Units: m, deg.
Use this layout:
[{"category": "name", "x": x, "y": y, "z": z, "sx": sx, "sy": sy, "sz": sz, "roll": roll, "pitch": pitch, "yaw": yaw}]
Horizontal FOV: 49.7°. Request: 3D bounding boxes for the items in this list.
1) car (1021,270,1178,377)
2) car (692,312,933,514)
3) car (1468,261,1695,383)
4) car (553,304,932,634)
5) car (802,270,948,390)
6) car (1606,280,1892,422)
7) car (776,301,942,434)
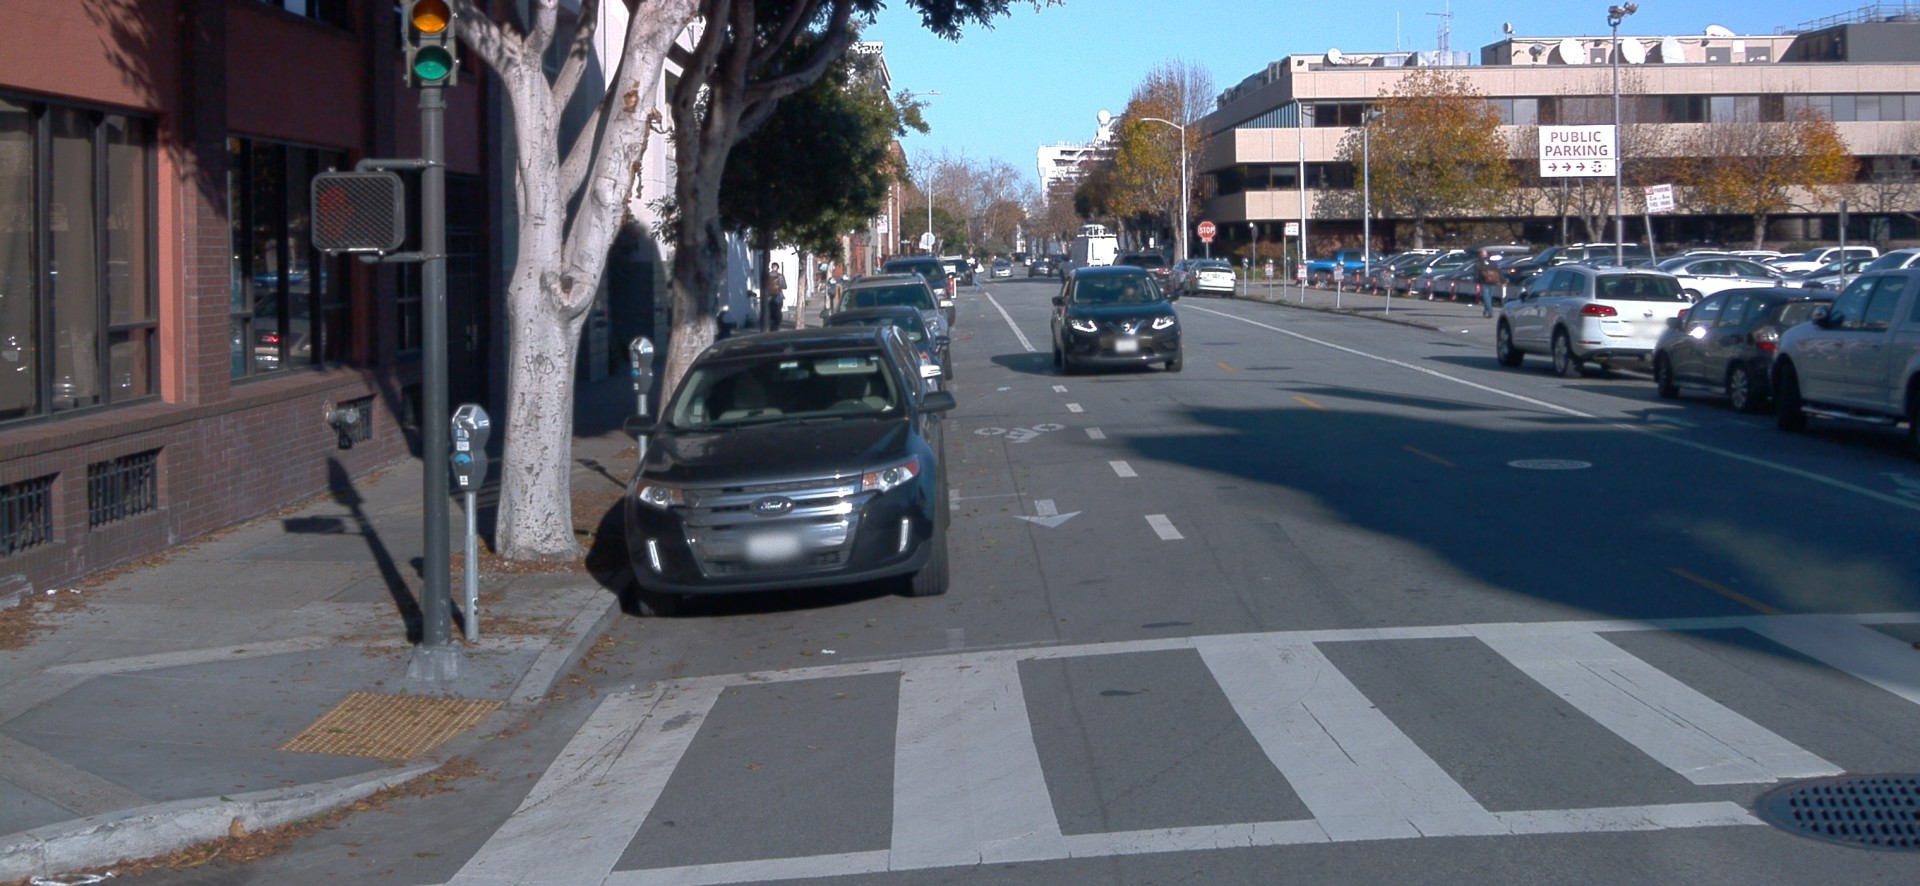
[{"category": "car", "x": 2.211, "y": -2.038, "z": 34.145, "sx": 2.060, "sy": 1.544, "sz": 4.994, "roll": -1, "pitch": 5, "yaw": -2}, {"category": "car", "x": -1.340, "y": -0.413, "z": 20.739, "sx": 2.034, "sy": 1.614, "sz": 4.649, "roll": 0, "pitch": 5, "yaw": 0}, {"category": "car", "x": 9.496, "y": -1.936, "z": 32.048, "sx": 2.067, "sy": 1.684, "sz": 4.609, "roll": -1, "pitch": 5, "yaw": -1}, {"category": "car", "x": -1.320, "y": -0.008, "z": 14.693, "sx": 2.172, "sy": 1.784, "sz": 4.861, "roll": 0, "pitch": 5, "yaw": 0}, {"category": "car", "x": -1.369, "y": -1.979, "z": 34.969, "sx": 2.274, "sy": 1.794, "sz": 4.895, "roll": -1, "pitch": 5, "yaw": -1}, {"category": "car", "x": 9.719, "y": -1.222, "z": 25.863, "sx": 2.012, "sy": 1.535, "sz": 4.093, "roll": 0, "pitch": 5, "yaw": 0}, {"category": "car", "x": -1.248, "y": -1.053, "z": 27.186, "sx": 1.951, "sy": 1.495, "sz": 3.933, "roll": 0, "pitch": 5, "yaw": 0}]
